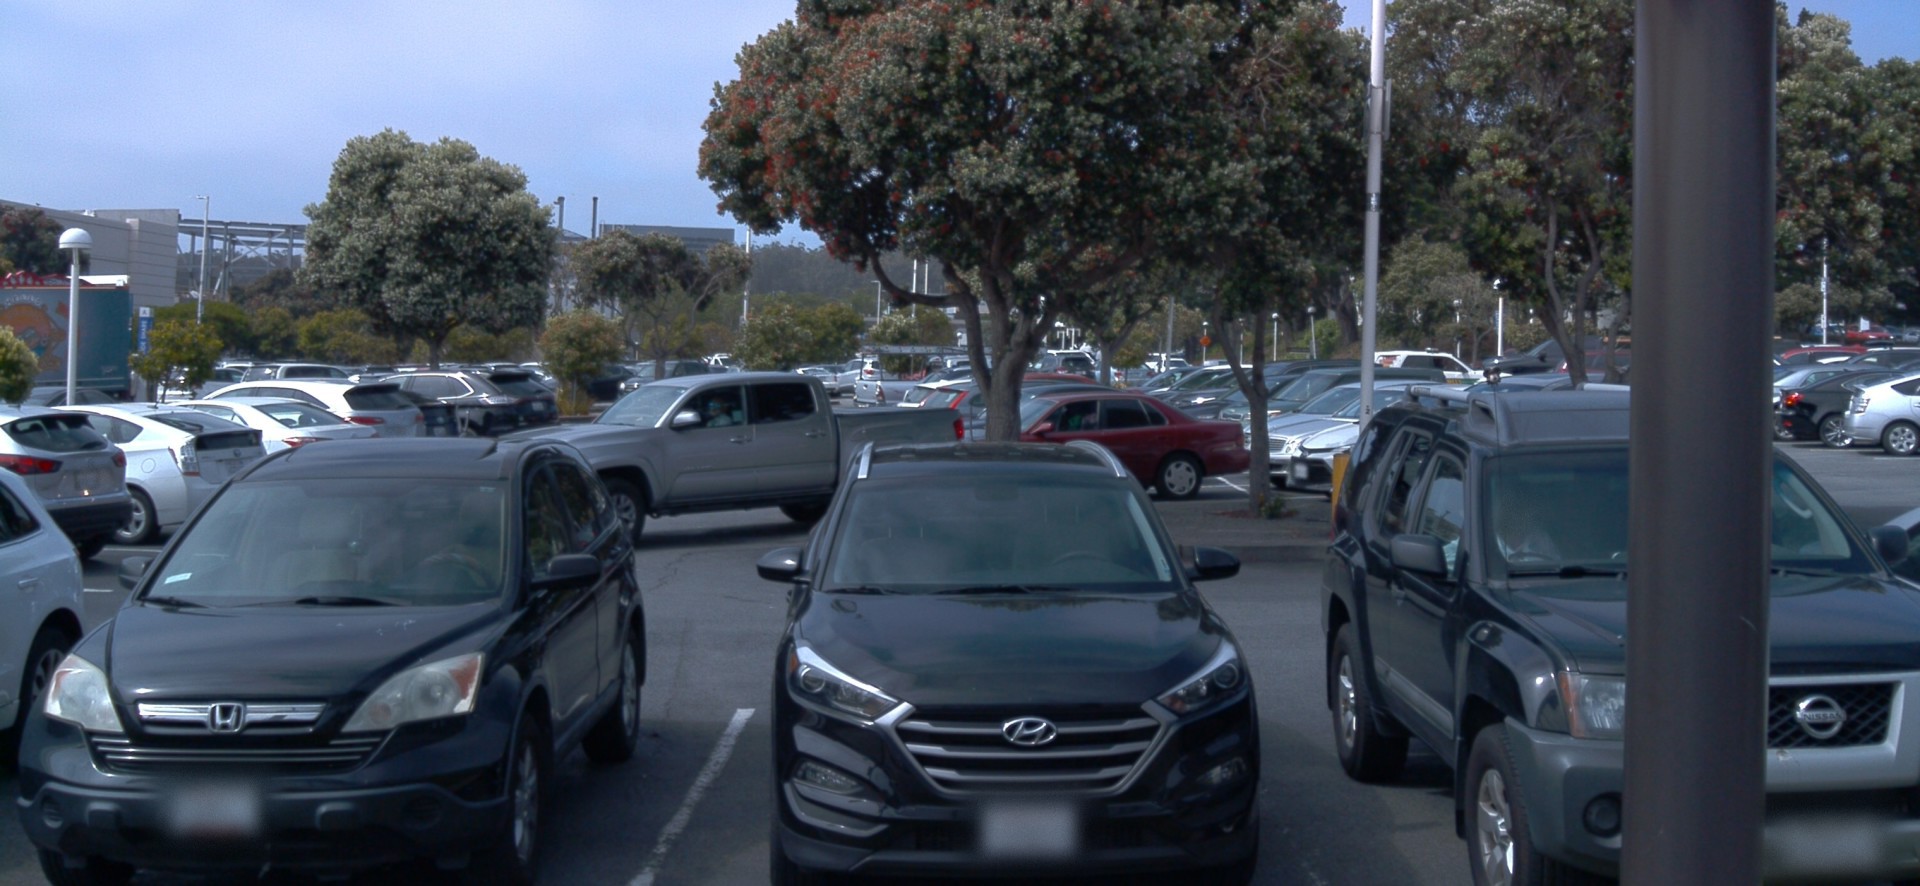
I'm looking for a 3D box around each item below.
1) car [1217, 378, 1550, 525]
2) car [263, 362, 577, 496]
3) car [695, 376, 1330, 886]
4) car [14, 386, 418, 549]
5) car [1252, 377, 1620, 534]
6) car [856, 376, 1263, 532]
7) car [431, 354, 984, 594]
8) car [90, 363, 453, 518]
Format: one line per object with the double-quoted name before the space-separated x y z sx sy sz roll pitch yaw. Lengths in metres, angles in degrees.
"car" 5.869 0.057 28.541 4.103 1.686 2.015 -2 4 -21
"car" -9.104 -0.290 34.701 4.829 1.927 2.009 2 3 19
"car" 0.081 0.811 9.339 2.167 1.893 4.719 0 5 -3
"car" -9.351 0.244 25.875 4.480 1.666 2.061 2 4 19
"car" 6.003 0.091 26.036 4.109 1.636 2.025 -2 4 -19
"car" 1.267 0.074 26.563 4.856 1.636 2.050 -2 4 -18
"car" -2.661 0.191 22.445 5.593 2.015 2.303 -4 5 -36
"car" -9.704 -0.101 29.005 4.612 1.826 2.023 2 4 21
